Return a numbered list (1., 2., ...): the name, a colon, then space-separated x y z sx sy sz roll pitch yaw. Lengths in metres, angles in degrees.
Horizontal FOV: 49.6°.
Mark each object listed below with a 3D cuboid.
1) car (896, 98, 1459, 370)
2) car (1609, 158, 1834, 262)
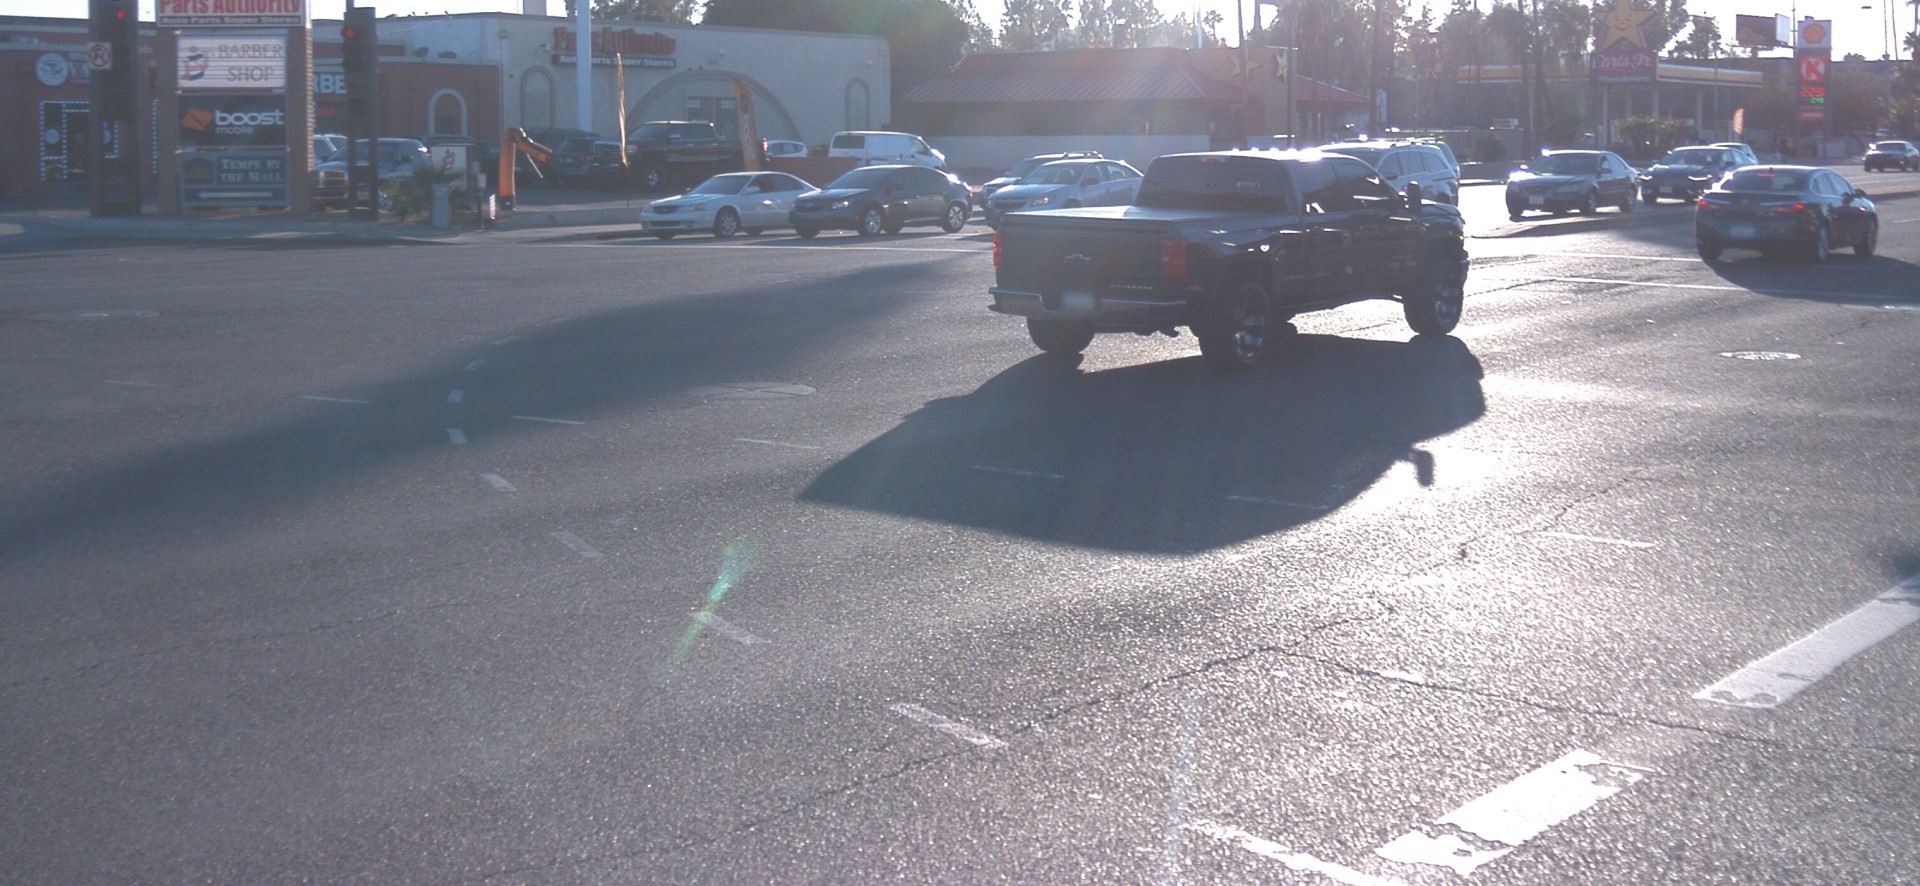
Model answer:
1. car: 2.386 -2.058 20.595 2.723 2.254 6.235 2 5 37
2. car: 12.252 -3.690 33.224 2.092 1.533 4.637 2 5 37
